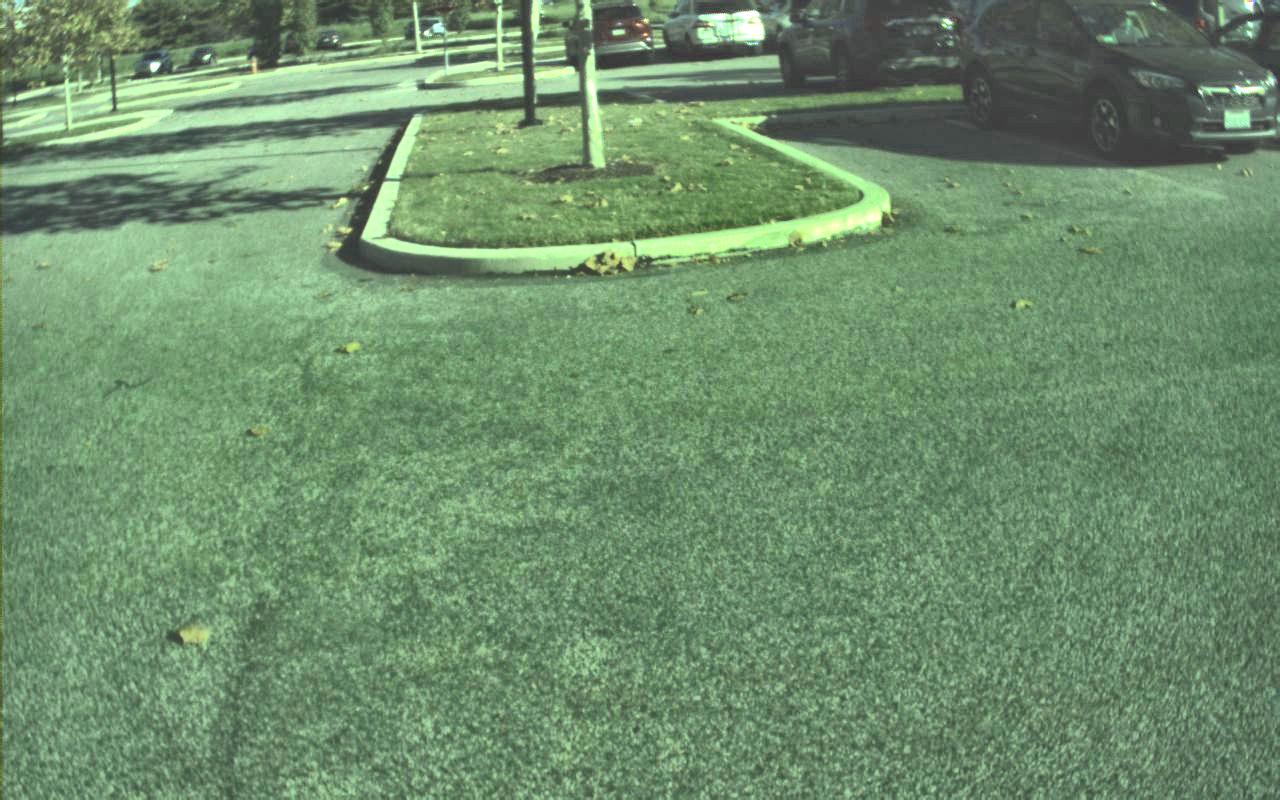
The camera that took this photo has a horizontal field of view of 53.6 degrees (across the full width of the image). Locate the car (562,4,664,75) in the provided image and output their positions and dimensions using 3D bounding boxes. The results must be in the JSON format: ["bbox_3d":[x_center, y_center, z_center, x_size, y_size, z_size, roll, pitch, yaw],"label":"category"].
[{"bbox_3d":[-0.815,-9.587,32.681,2.012,1.745,4.636,-4,17,-9],"label":"car"}]

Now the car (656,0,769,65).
[{"bbox_3d":[1.856,-9.951,33.127,2.015,1.741,4.664,-4,17,-10],"label":"car"}]

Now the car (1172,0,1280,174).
[{"bbox_3d":[7.628,-3.493,11.671,1.945,1.543,4.428,-3,17,-6],"label":"car"}]

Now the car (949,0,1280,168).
[{"bbox_3d":[4.907,-3.416,11.720,1.944,1.572,4.594,-4,17,-10],"label":"car"}]

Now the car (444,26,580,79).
[{"bbox_3d":[-4.640,-12.514,44.161,4.789,1.722,2.026,-3,16,-5],"label":"car"}]

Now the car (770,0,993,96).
[{"bbox_3d":[3.744,-5.876,19.548,2.017,1.687,4.806,-4,17,-10],"label":"car"}]
